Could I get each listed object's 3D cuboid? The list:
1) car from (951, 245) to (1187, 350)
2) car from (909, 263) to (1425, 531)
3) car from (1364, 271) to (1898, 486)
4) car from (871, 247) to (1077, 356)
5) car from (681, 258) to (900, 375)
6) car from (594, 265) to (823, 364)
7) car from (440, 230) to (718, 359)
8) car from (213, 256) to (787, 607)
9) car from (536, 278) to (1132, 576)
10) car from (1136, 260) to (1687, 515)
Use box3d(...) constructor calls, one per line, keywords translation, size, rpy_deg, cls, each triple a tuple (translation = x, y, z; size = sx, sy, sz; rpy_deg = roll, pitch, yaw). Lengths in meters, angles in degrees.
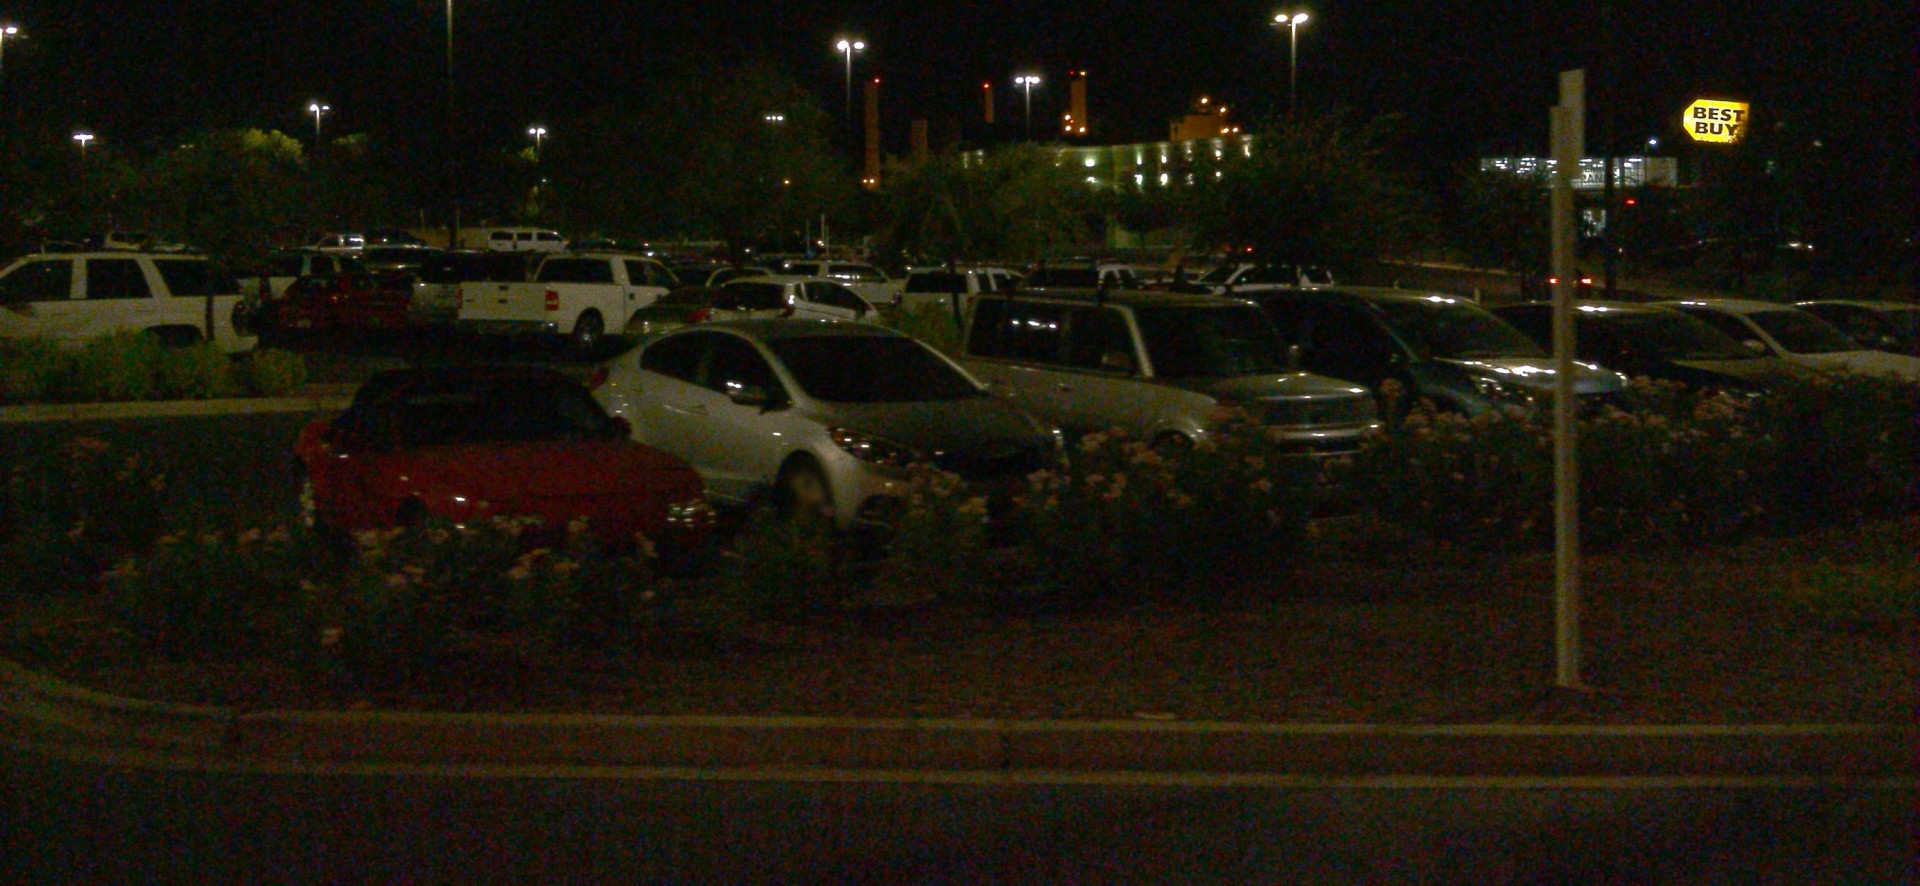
box3d(translation=(2.076, -2.690, 37.271), size=(2.378, 1.672, 5.421), rpy_deg=(3, 6, 25), cls="car")
box3d(translation=(1.487, -0.507, 16.374), size=(1.937, 1.733, 4.075), rpy_deg=(-2, 6, -33), cls="car")
box3d(translation=(6.158, -0.736, 19.562), size=(2.212, 1.653, 4.434), rpy_deg=(-2, 6, -31), cls="car")
box3d(translation=(0.345, -2.761, 39.545), size=(2.045, 1.862, 4.763), rpy_deg=(2, 6, 26), cls="car")
box3d(translation=(-2.657, -2.096, 33.394), size=(1.859, 1.673, 3.809), rpy_deg=(2, 5, 25), cls="car")
box3d(translation=(-4.277, -2.274, 35.867), size=(1.995, 1.504, 4.083), rpy_deg=(3, 6, 27), cls="car")
box3d(translation=(-6.687, -2.750, 37.173), size=(2.176, 2.091, 5.588), rpy_deg=(2, 6, 22), cls="car")
box3d(translation=(-3.007, -0.276, 12.711), size=(2.077, 1.643, 4.458), rpy_deg=(-2, 6, -32), cls="car")
box3d(translation=(-1.073, -0.292, 14.712), size=(2.166, 1.613, 4.562), rpy_deg=(-2, 6, -35), cls="car")
box3d(translation=(3.667, -0.623, 17.647), size=(2.107, 1.773, 4.416), rpy_deg=(-2, 6, -32), cls="car")
